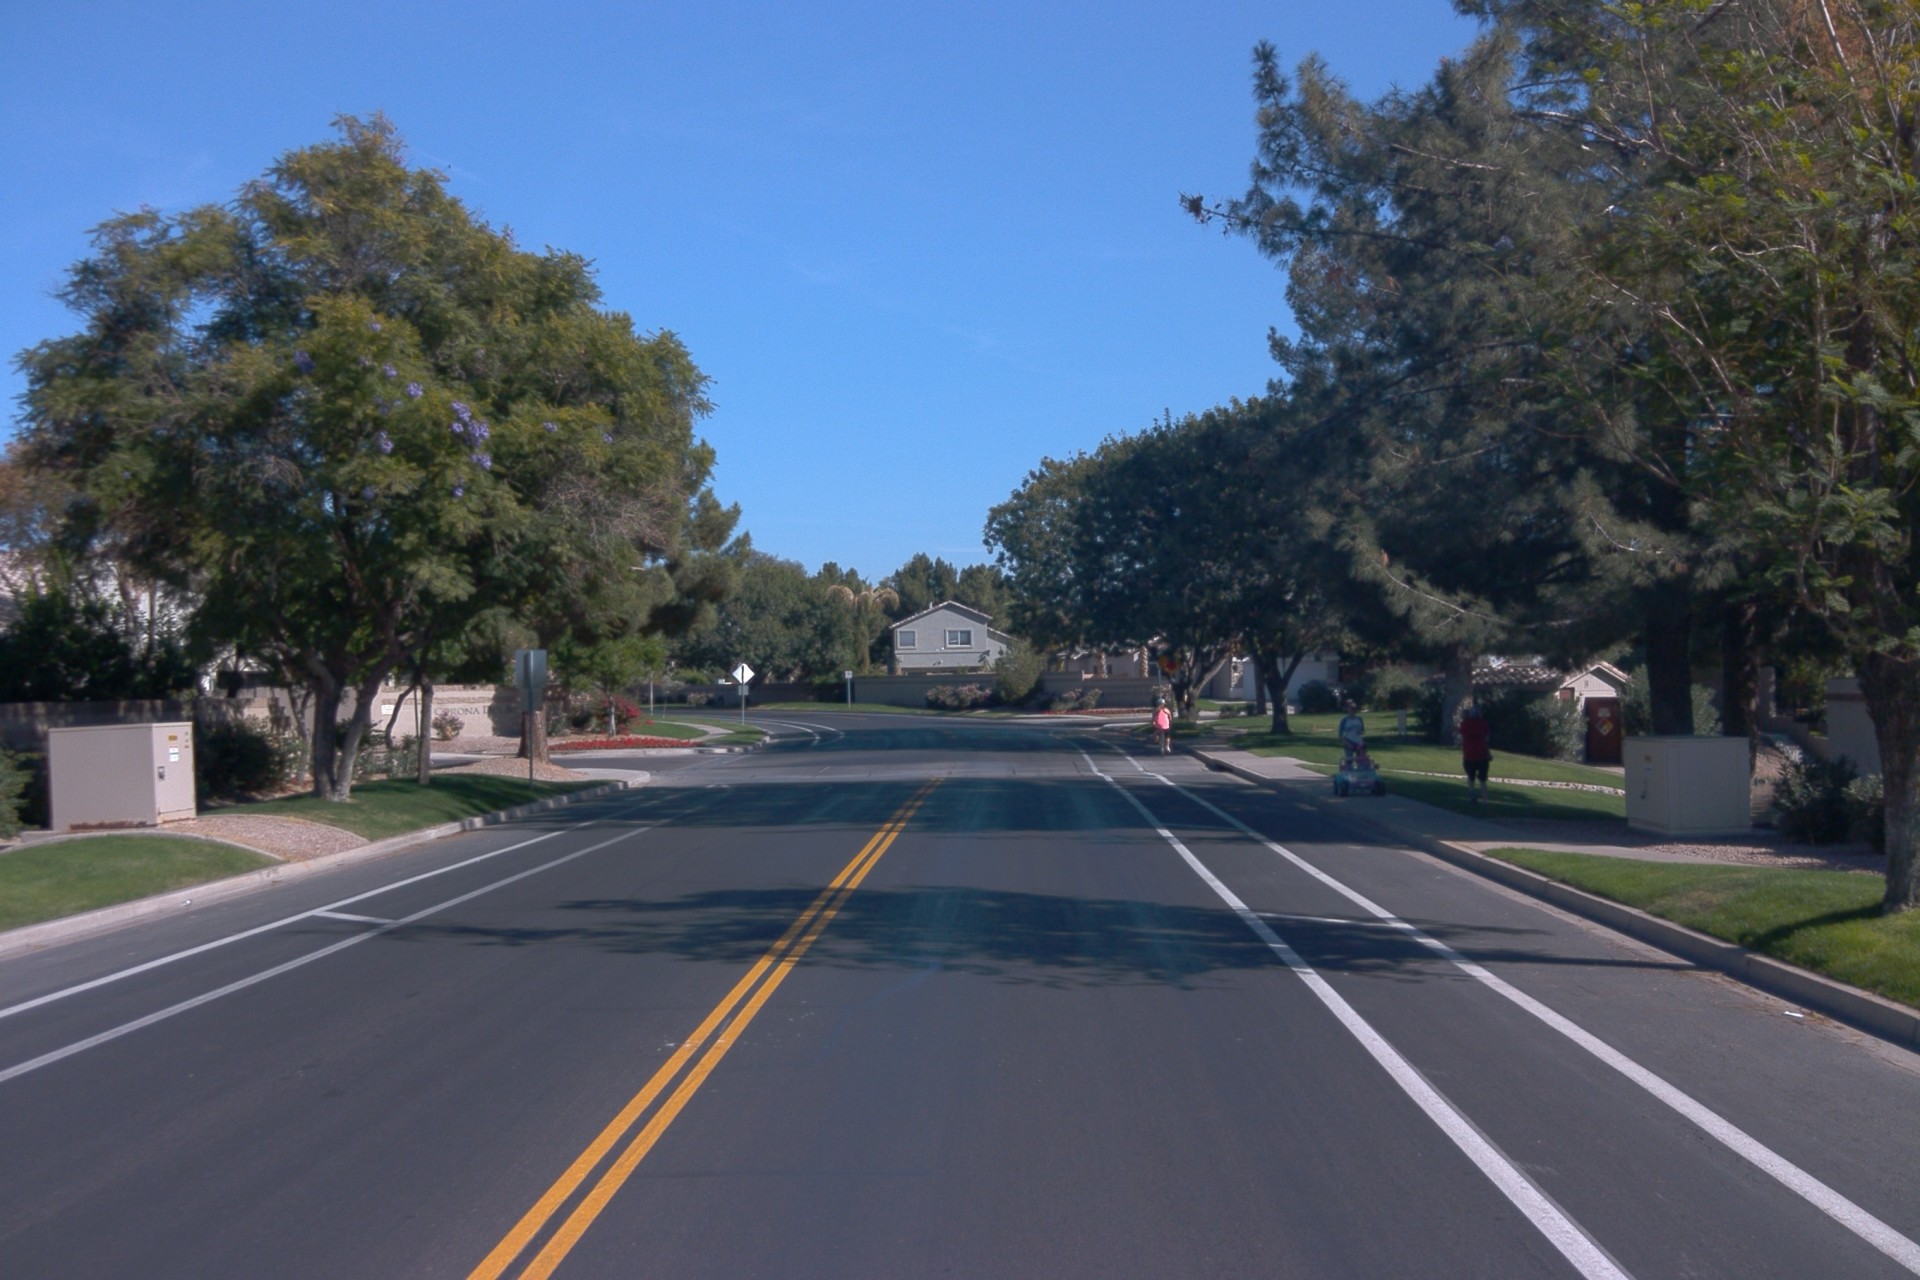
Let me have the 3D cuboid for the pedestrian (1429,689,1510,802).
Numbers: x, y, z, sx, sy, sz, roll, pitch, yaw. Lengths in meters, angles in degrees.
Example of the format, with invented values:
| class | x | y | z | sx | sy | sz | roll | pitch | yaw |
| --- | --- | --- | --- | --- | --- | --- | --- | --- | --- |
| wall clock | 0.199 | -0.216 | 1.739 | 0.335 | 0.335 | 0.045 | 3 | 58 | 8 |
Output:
| class | x | y | z | sx | sy | sz | roll | pitch | yaw |
| --- | --- | --- | --- | --- | --- | --- | --- | --- | --- |
| pedestrian | 8.333 | 1.715 | 34.022 | 1.061 | 1.810 | 1.161 | 0 | -1 | 3 |

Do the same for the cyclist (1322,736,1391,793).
| class | x | y | z | sx | sy | sz | roll | pitch | yaw |
| --- | --- | --- | --- | --- | --- | --- | --- | --- | --- |
| cyclist | 7.094 | 2.224 | 37.227 | 0.947 | 0.970 | 1.319 | 0 | -1 | -1 |
